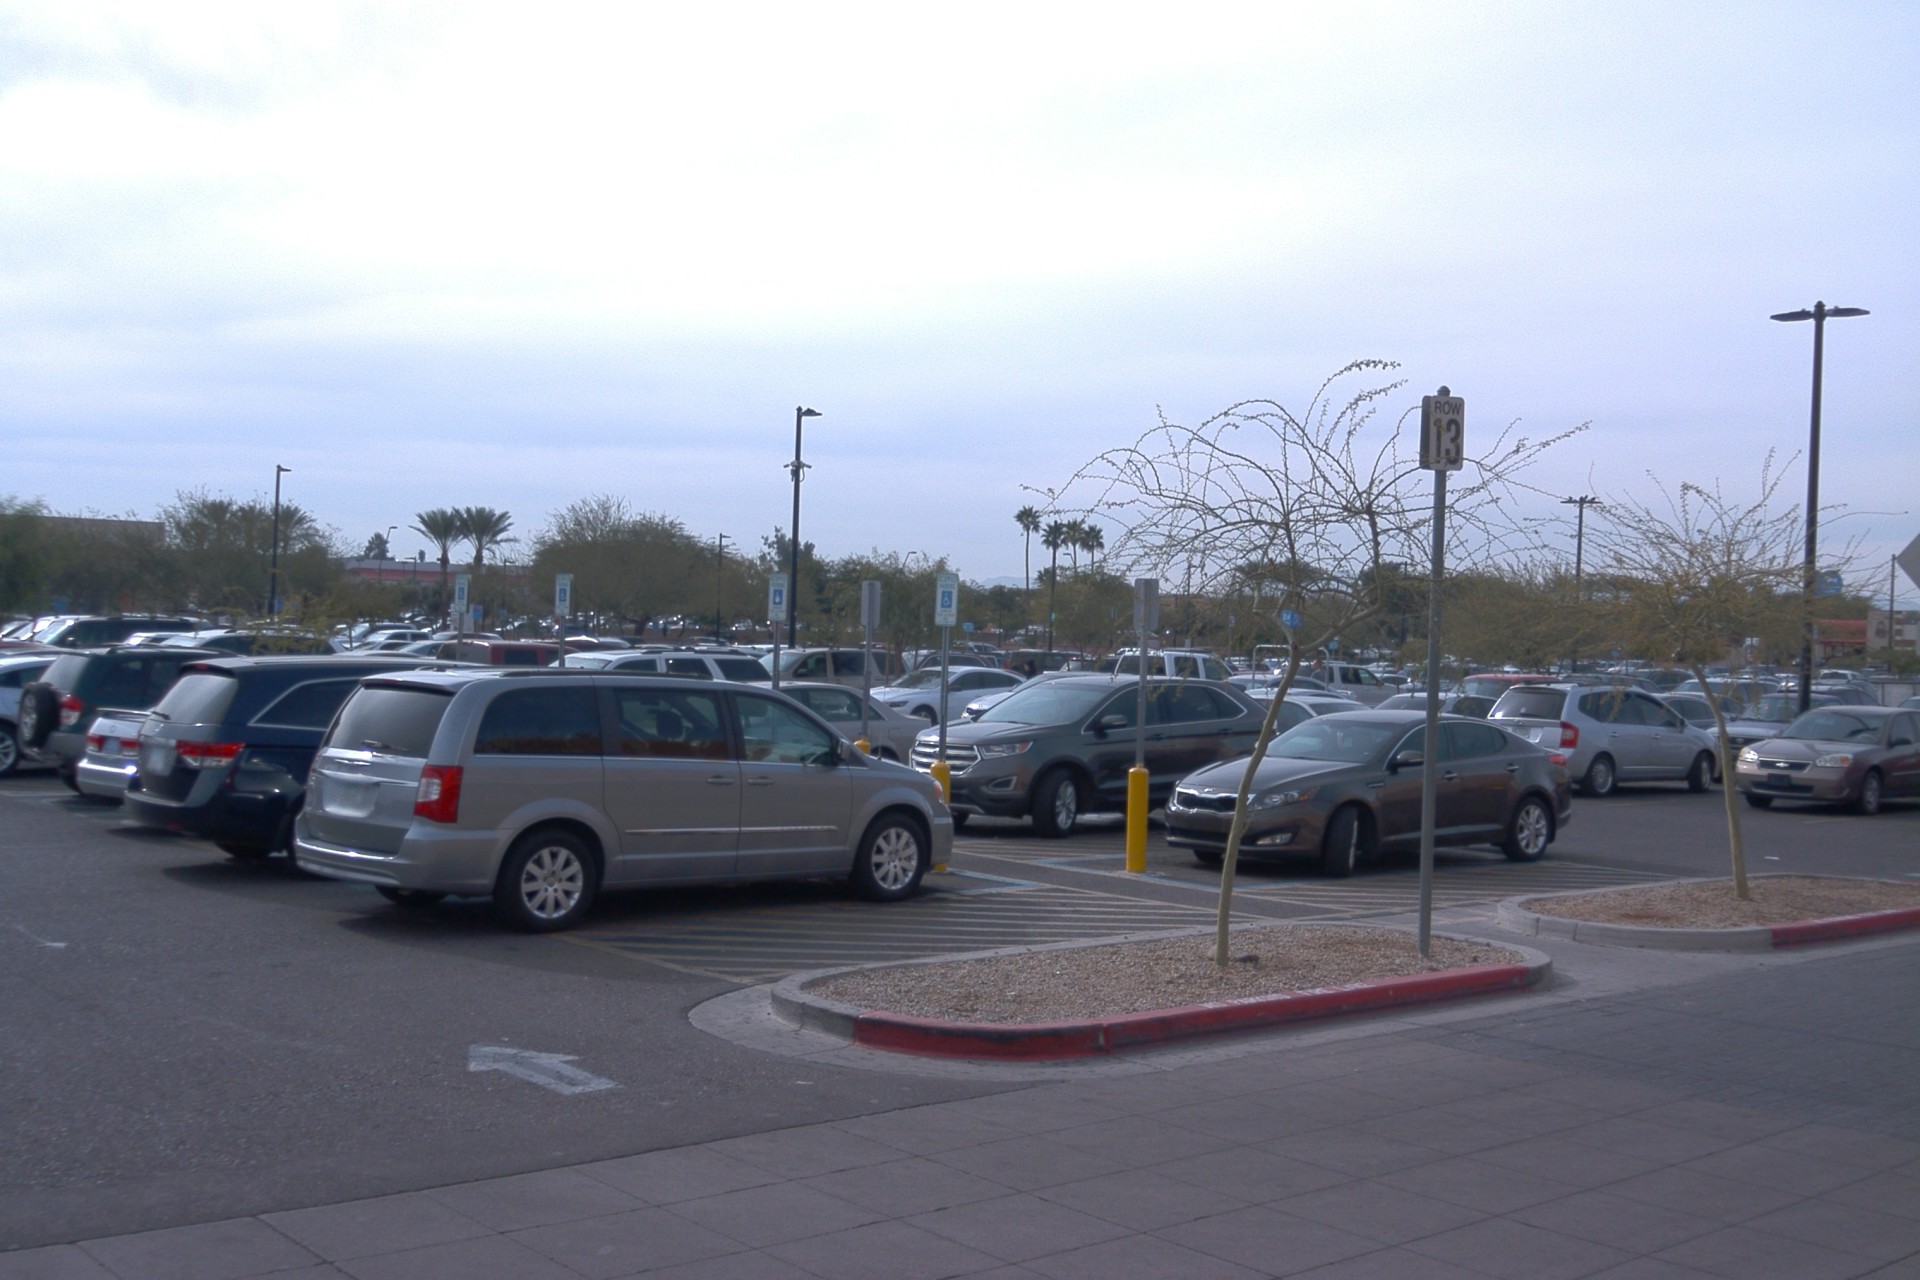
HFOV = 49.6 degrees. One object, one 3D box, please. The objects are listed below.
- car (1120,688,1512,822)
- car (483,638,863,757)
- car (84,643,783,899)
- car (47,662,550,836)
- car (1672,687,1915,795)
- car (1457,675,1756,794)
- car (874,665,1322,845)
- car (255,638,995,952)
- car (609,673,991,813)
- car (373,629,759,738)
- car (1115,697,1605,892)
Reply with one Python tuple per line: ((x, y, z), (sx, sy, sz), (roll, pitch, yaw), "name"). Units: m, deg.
((4.579, 1.437, 27.309), (2.016, 1.500, 4.863), (2, -1, -42), "car")
((-3.801, 0.767, 28.041), (4.748, 1.460, 2.027), (2, -1, -43), "car")
((-4.326, 1.011, 17.729), (5.324, 1.850, 2.261), (2, -1, -43), "car")
((-6.406, 1.011, 20.406), (4.279, 1.500, 1.896), (2, -1, -43), "car")
((14.293, 1.683, 35.489), (4.419, 1.690, 2.034), (2, -1, -41), "car")
((9.979, 1.418, 31.872), (4.752, 1.660, 2.105), (2, -1, -40), "car")
((1.600, 1.194, 22.825), (4.789, 1.740, 2.142), (2, -1, -42), "car")
((-2.299, 1.012, 15.361), (5.067, 1.930, 2.133), (2, -1, -44), "car")
((-1.913, 1.232, 25.852), (2.059, 1.550, 4.458), (0, -1, 45), "car")
((-5.628, 0.633, 30.075), (5.056, 1.450, 2.220), (2, -1, -42), "car")
((3.969, 1.394, 20.115), (4.784, 1.610, 2.143), (2, -1, -41), "car")
